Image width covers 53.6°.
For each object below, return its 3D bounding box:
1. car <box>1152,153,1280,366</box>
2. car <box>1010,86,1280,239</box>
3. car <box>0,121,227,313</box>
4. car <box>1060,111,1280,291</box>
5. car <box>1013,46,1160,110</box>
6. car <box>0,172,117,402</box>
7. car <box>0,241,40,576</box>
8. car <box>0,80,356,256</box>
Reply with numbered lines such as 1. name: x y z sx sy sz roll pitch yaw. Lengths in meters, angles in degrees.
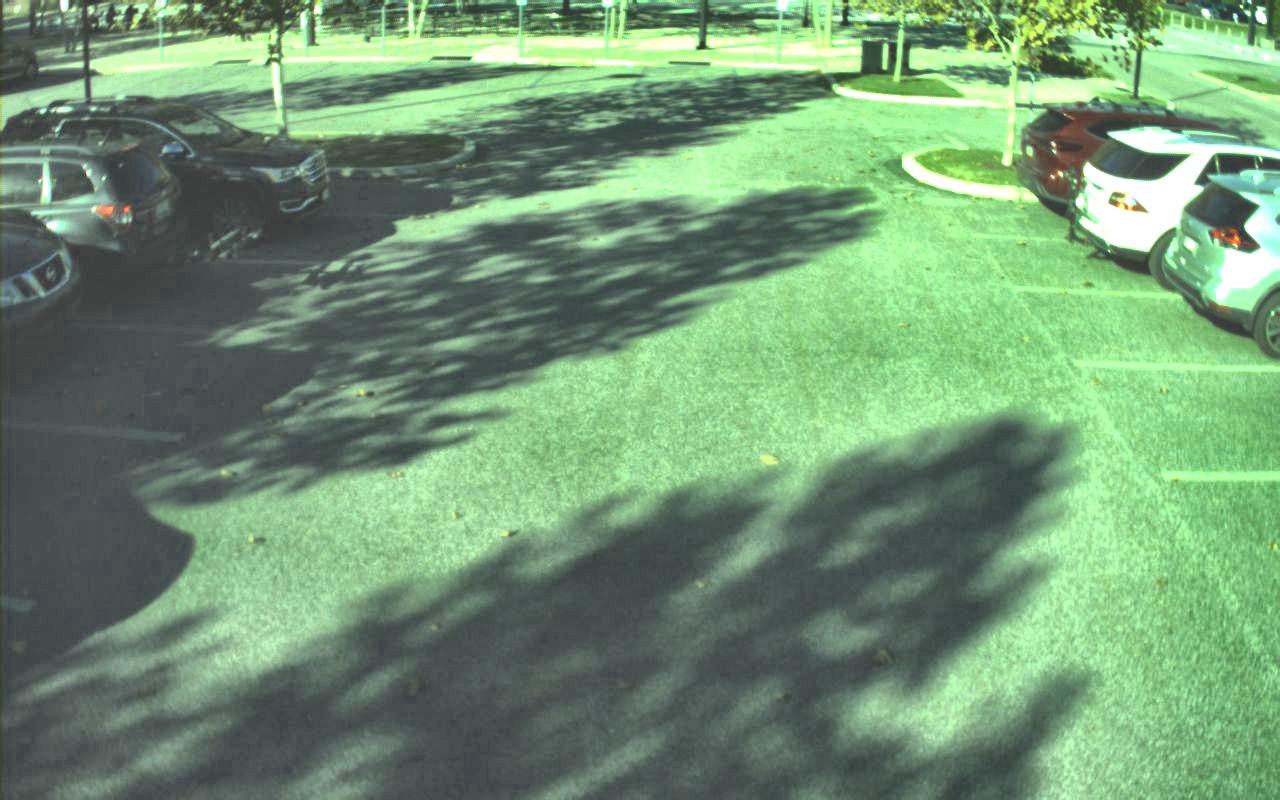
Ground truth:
1. car: 7.688 -1.461 11.501 4.397 1.786 1.966 0 16 2
2. car: 7.693 -3.417 16.660 4.556 1.826 2.015 -1 16 1
3. car: -6.897 -1.977 12.377 4.421 1.650 1.971 2 17 11
4. car: 7.532 -2.438 14.007 4.511 1.828 2.002 -1 16 0
5. car: 14.209 -10.215 37.318 4.618 1.710 2.029 2 16 9
6. car: -7.294 -1.082 10.182 4.430 1.599 1.972 2 17 10
7. car: -6.712 -0.060 7.354 4.444 1.660 1.986 2 17 10
8. car: -6.194 -2.976 15.011 4.775 1.764 2.067 0 16 4
